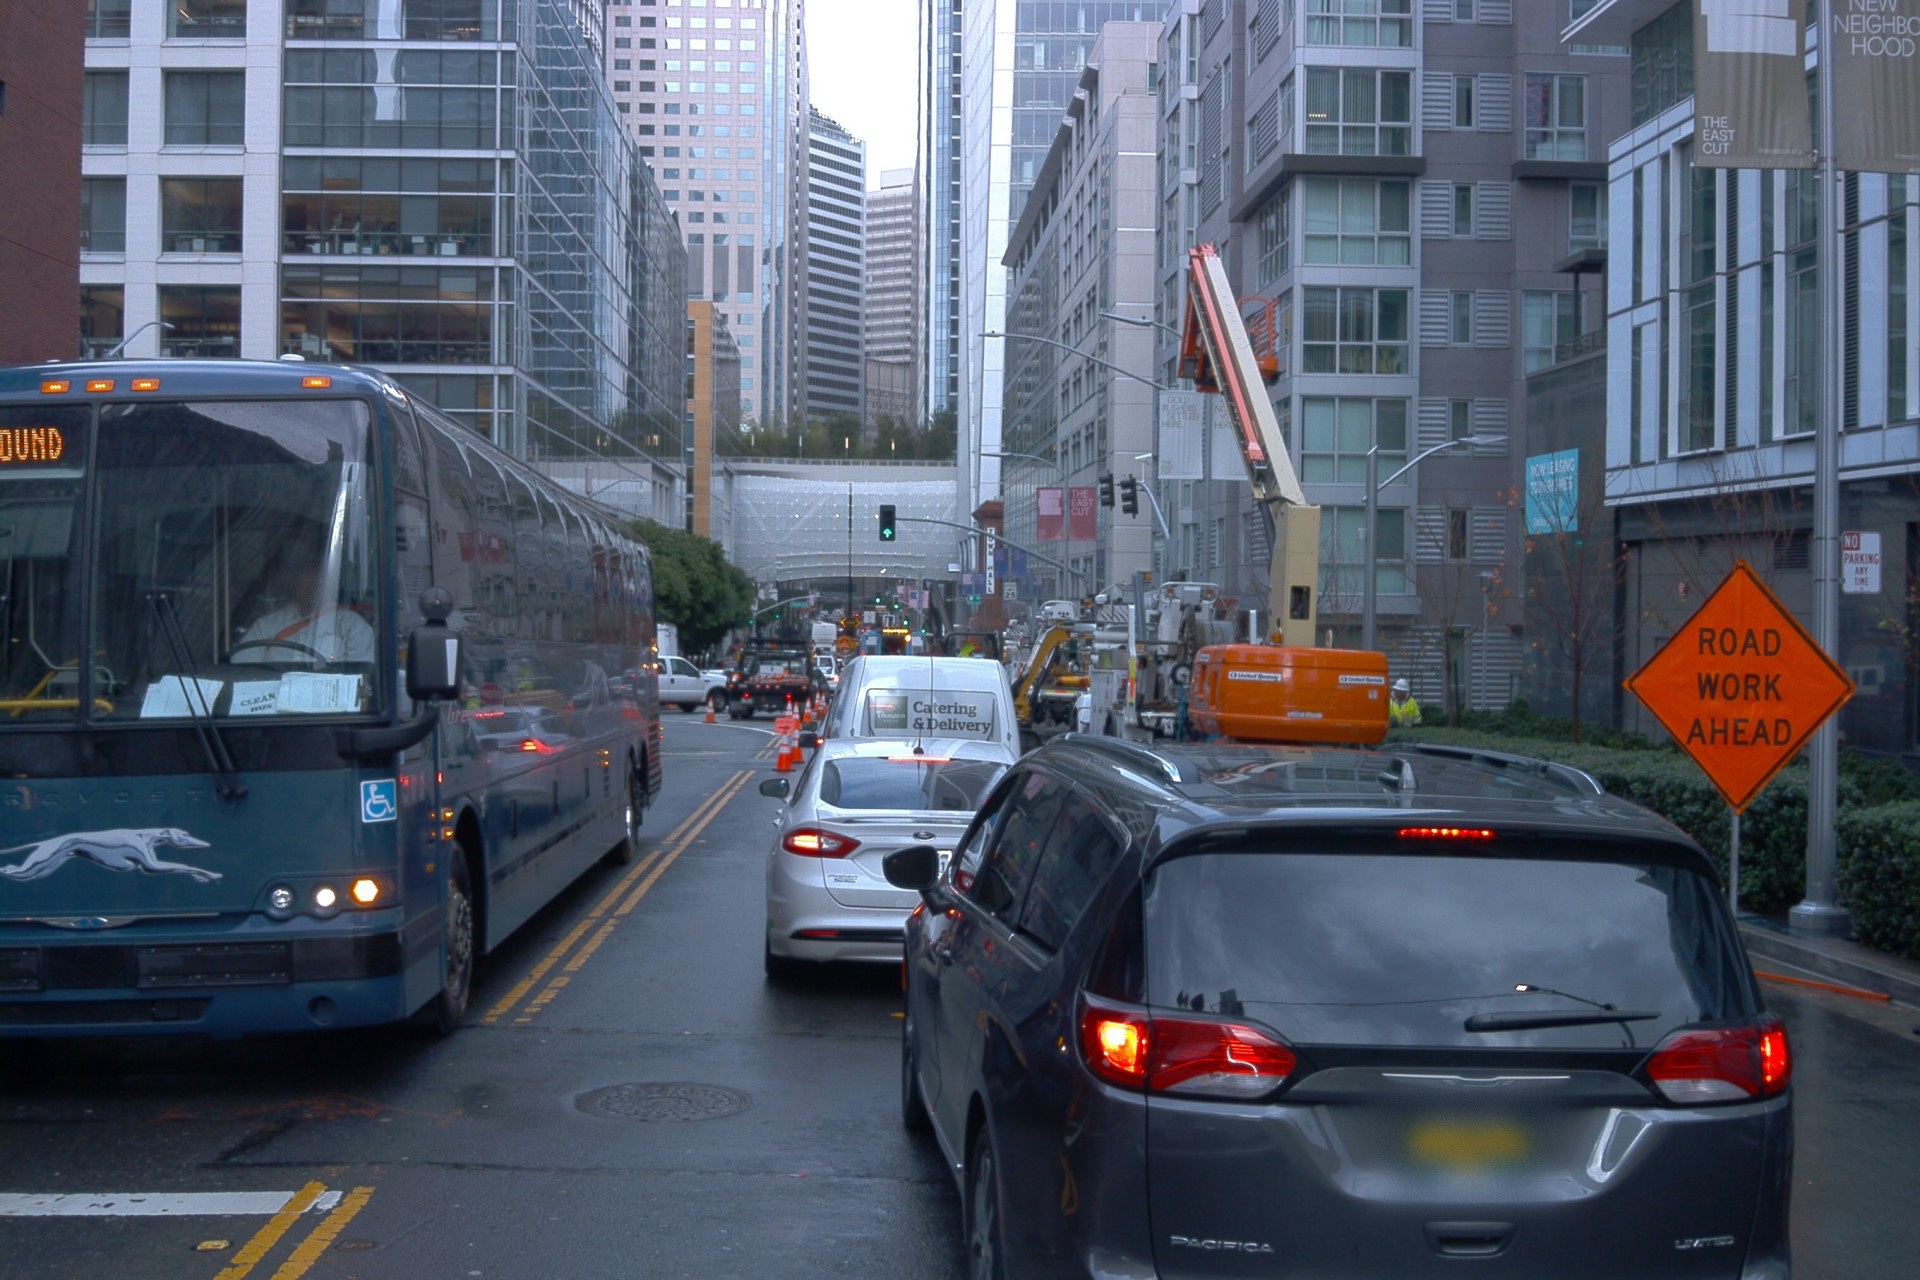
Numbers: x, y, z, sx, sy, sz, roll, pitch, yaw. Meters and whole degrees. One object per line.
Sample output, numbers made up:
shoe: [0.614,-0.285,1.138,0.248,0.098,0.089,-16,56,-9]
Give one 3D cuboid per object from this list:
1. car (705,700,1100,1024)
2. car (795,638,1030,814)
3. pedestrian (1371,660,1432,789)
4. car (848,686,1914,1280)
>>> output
car: [-0.377,1.297,13.826,2.164,1.580,4.901,1,1,-1]
car: [-0.540,0.744,19.508,1.860,1.470,3.431,1,1,-7]
pedestrian: [6.838,1.300,31.942,0.822,1.949,0.617,1,0,4]
car: [0.803,1.115,6.811,2.058,1.750,4.787,1,1,-6]
